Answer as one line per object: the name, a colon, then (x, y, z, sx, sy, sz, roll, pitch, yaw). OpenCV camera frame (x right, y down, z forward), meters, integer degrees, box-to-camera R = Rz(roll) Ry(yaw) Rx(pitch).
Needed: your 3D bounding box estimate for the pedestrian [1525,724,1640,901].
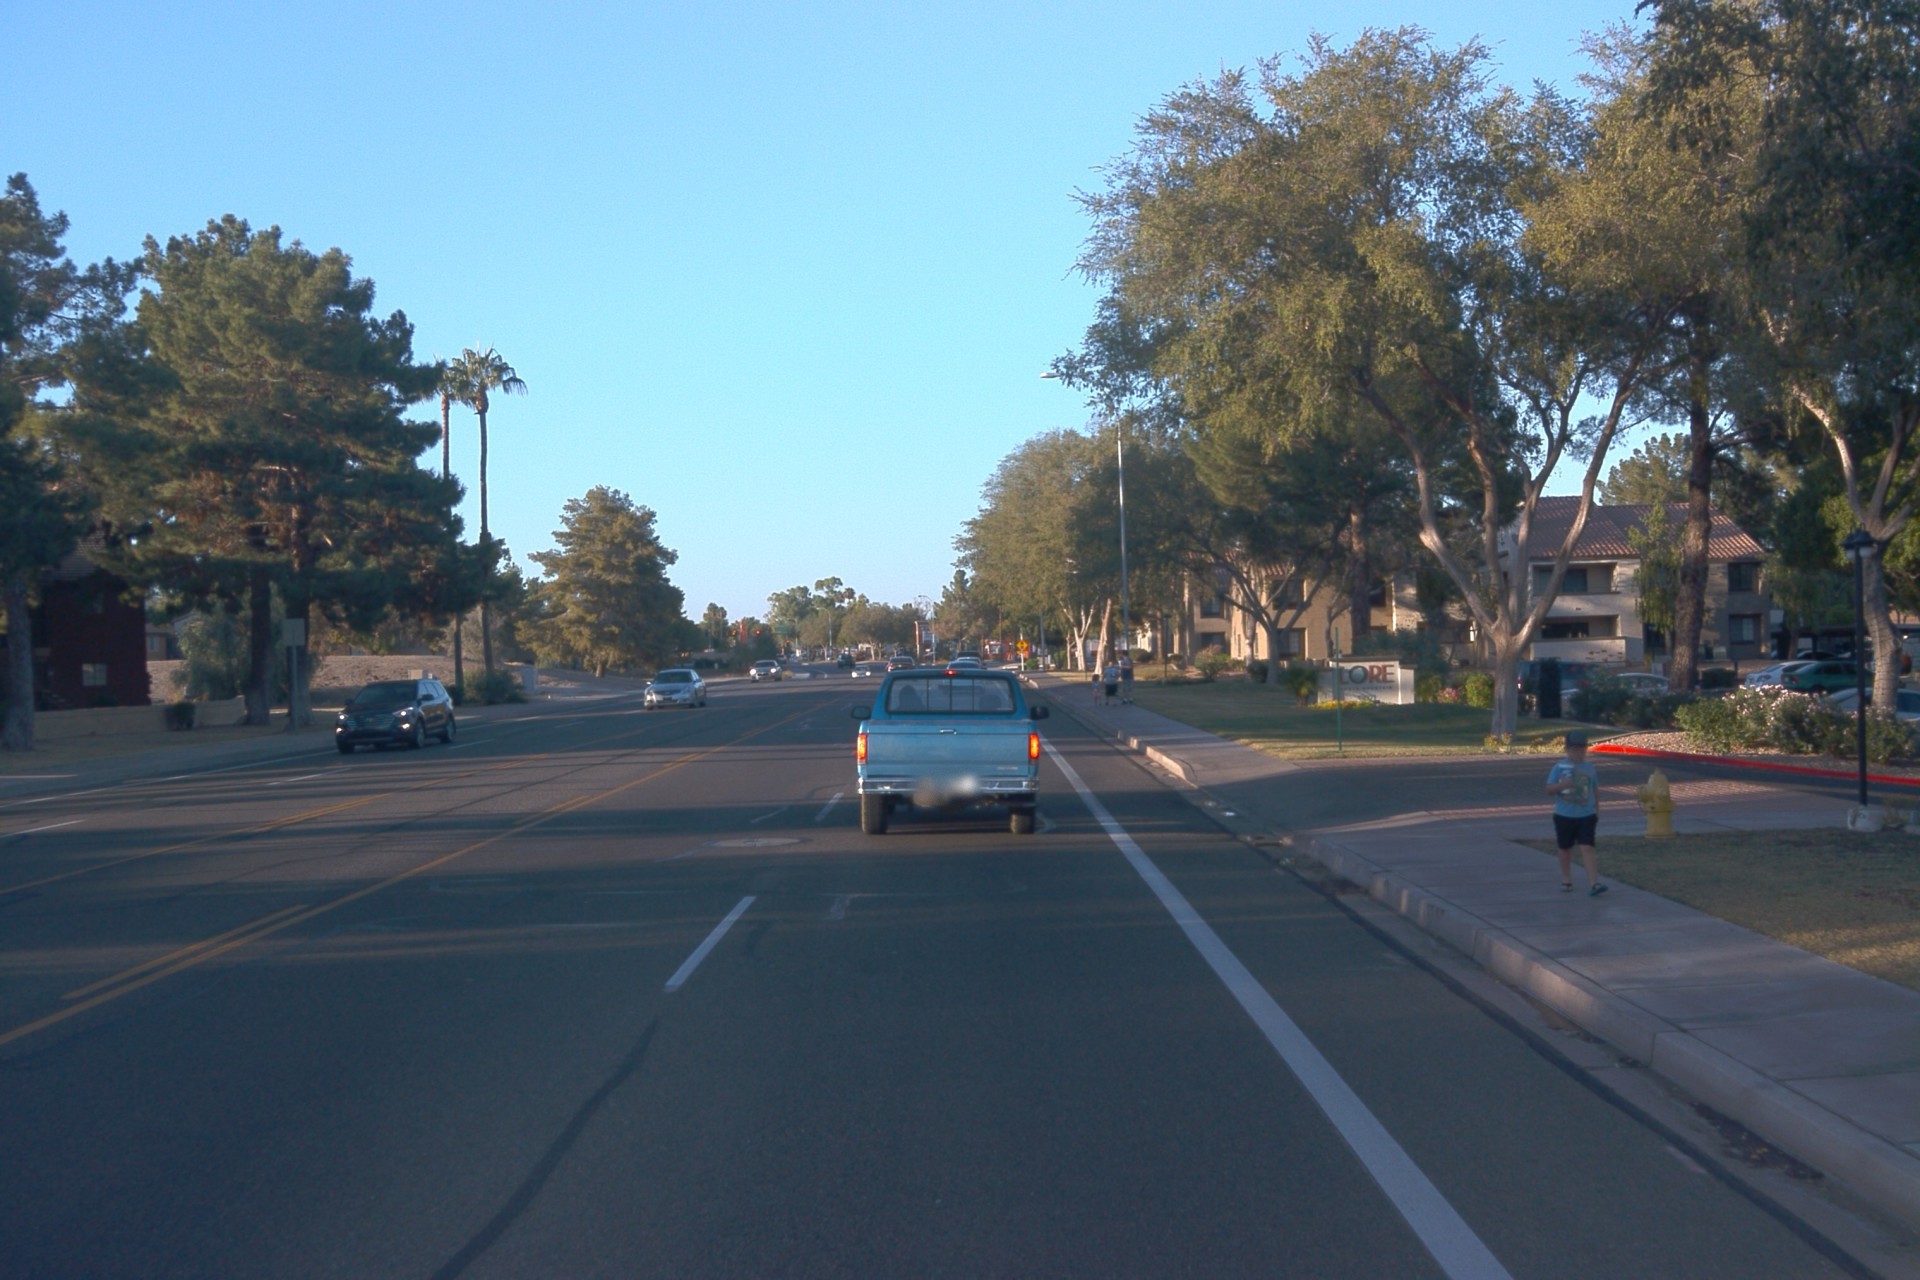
pedestrian: (4.616, 1.265, 15.375, 0.616, 1.250, 0.743, 0, 0, -1)

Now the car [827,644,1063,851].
car: (-0.116, 1.126, 24.285, 2.459, 2.150, 5.428, 0, 0, 1)
